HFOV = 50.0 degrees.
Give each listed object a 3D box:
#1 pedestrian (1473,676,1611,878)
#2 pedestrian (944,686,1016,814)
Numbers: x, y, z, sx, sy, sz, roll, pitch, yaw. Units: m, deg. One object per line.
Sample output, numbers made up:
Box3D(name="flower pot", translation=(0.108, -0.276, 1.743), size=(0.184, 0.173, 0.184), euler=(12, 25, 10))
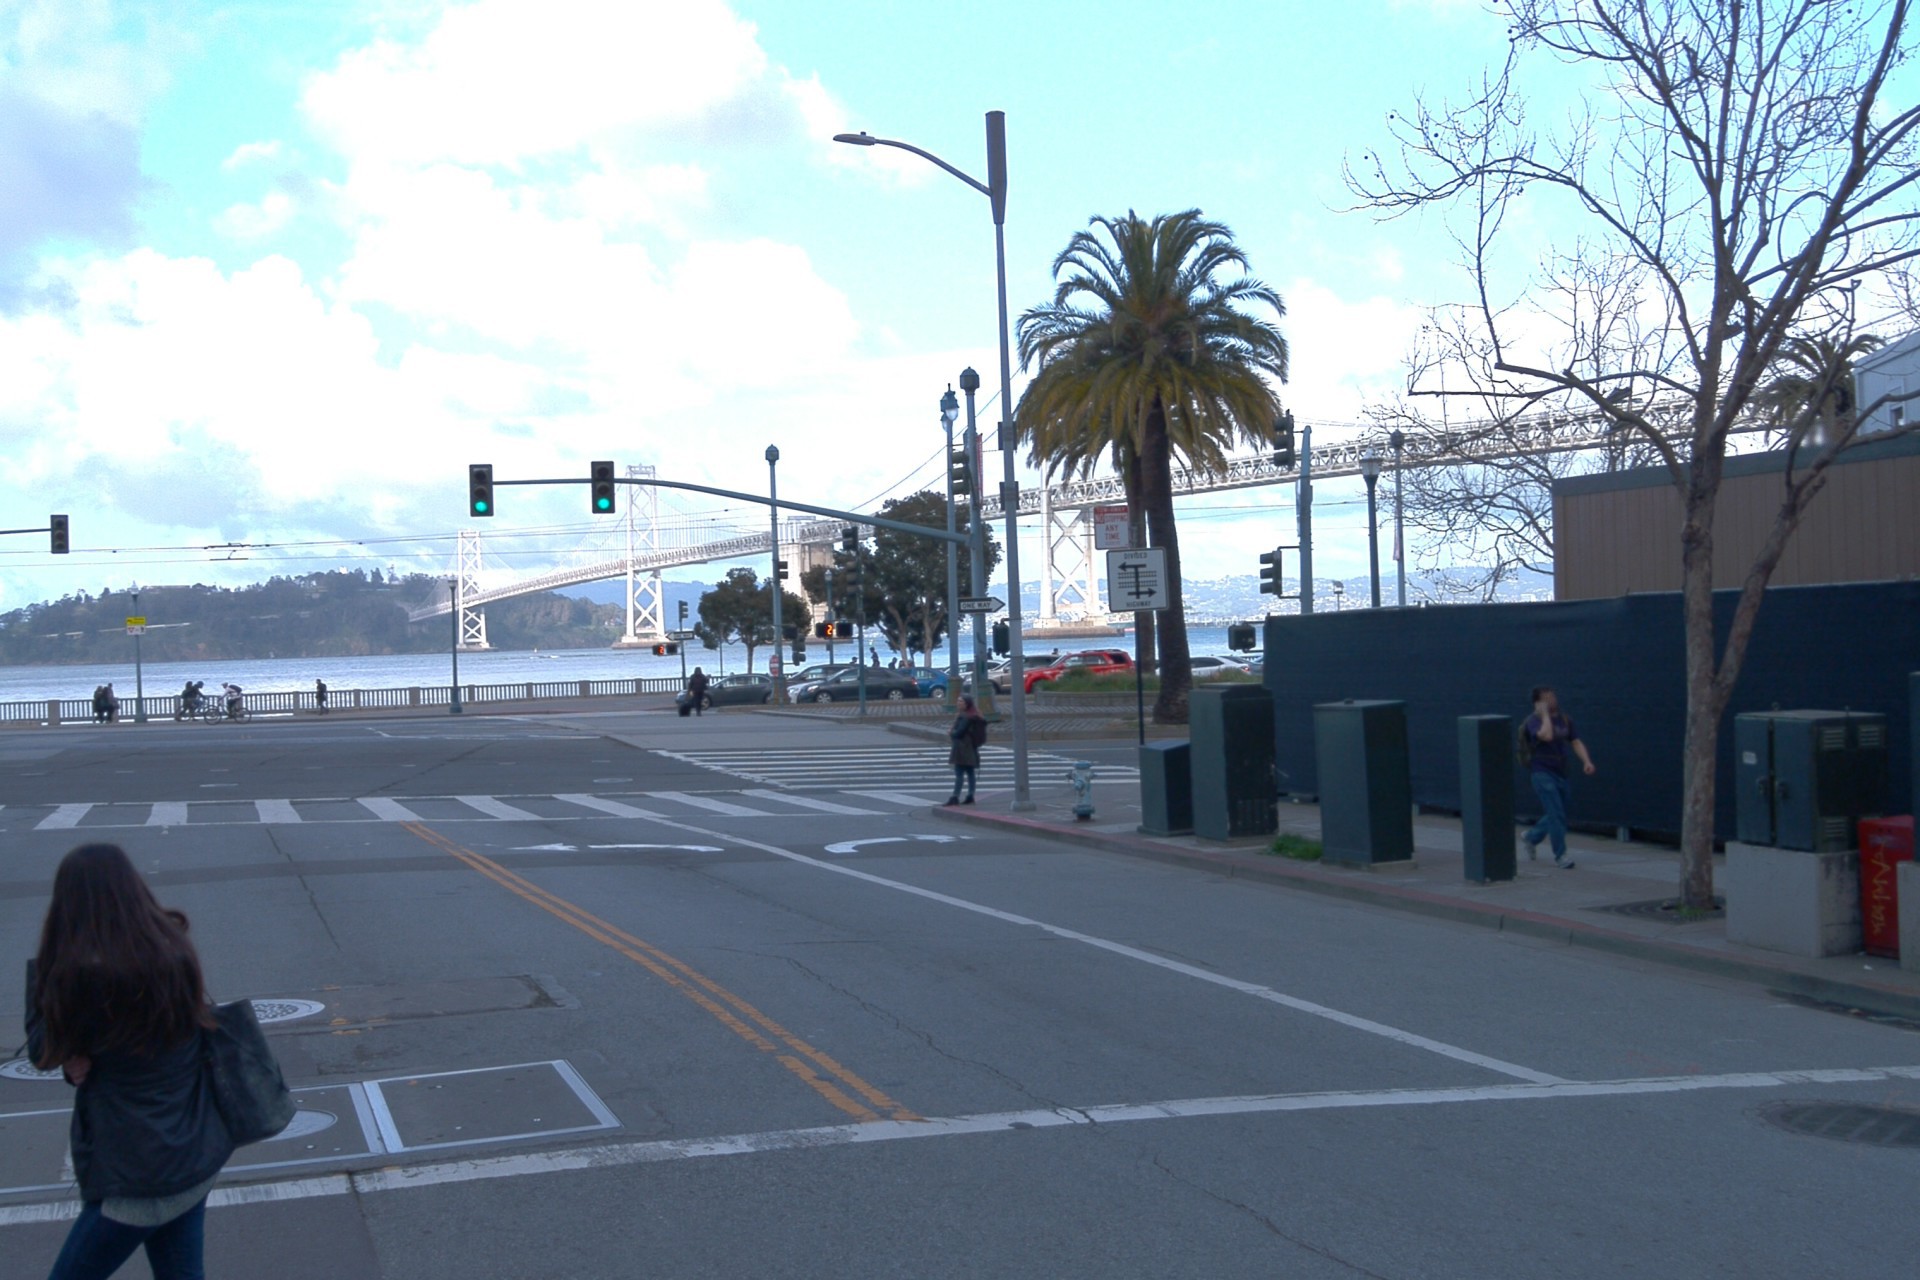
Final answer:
Box3D(name="pedestrian", translation=(5.527, 1.278, 19.577), size=(0.793, 1.820, 1.063), euler=(0, 1, -18))
Box3D(name="pedestrian", translation=(0.286, 1.585, 29.955), size=(0.841, 1.790, 0.830), euler=(0, 1, -17))
